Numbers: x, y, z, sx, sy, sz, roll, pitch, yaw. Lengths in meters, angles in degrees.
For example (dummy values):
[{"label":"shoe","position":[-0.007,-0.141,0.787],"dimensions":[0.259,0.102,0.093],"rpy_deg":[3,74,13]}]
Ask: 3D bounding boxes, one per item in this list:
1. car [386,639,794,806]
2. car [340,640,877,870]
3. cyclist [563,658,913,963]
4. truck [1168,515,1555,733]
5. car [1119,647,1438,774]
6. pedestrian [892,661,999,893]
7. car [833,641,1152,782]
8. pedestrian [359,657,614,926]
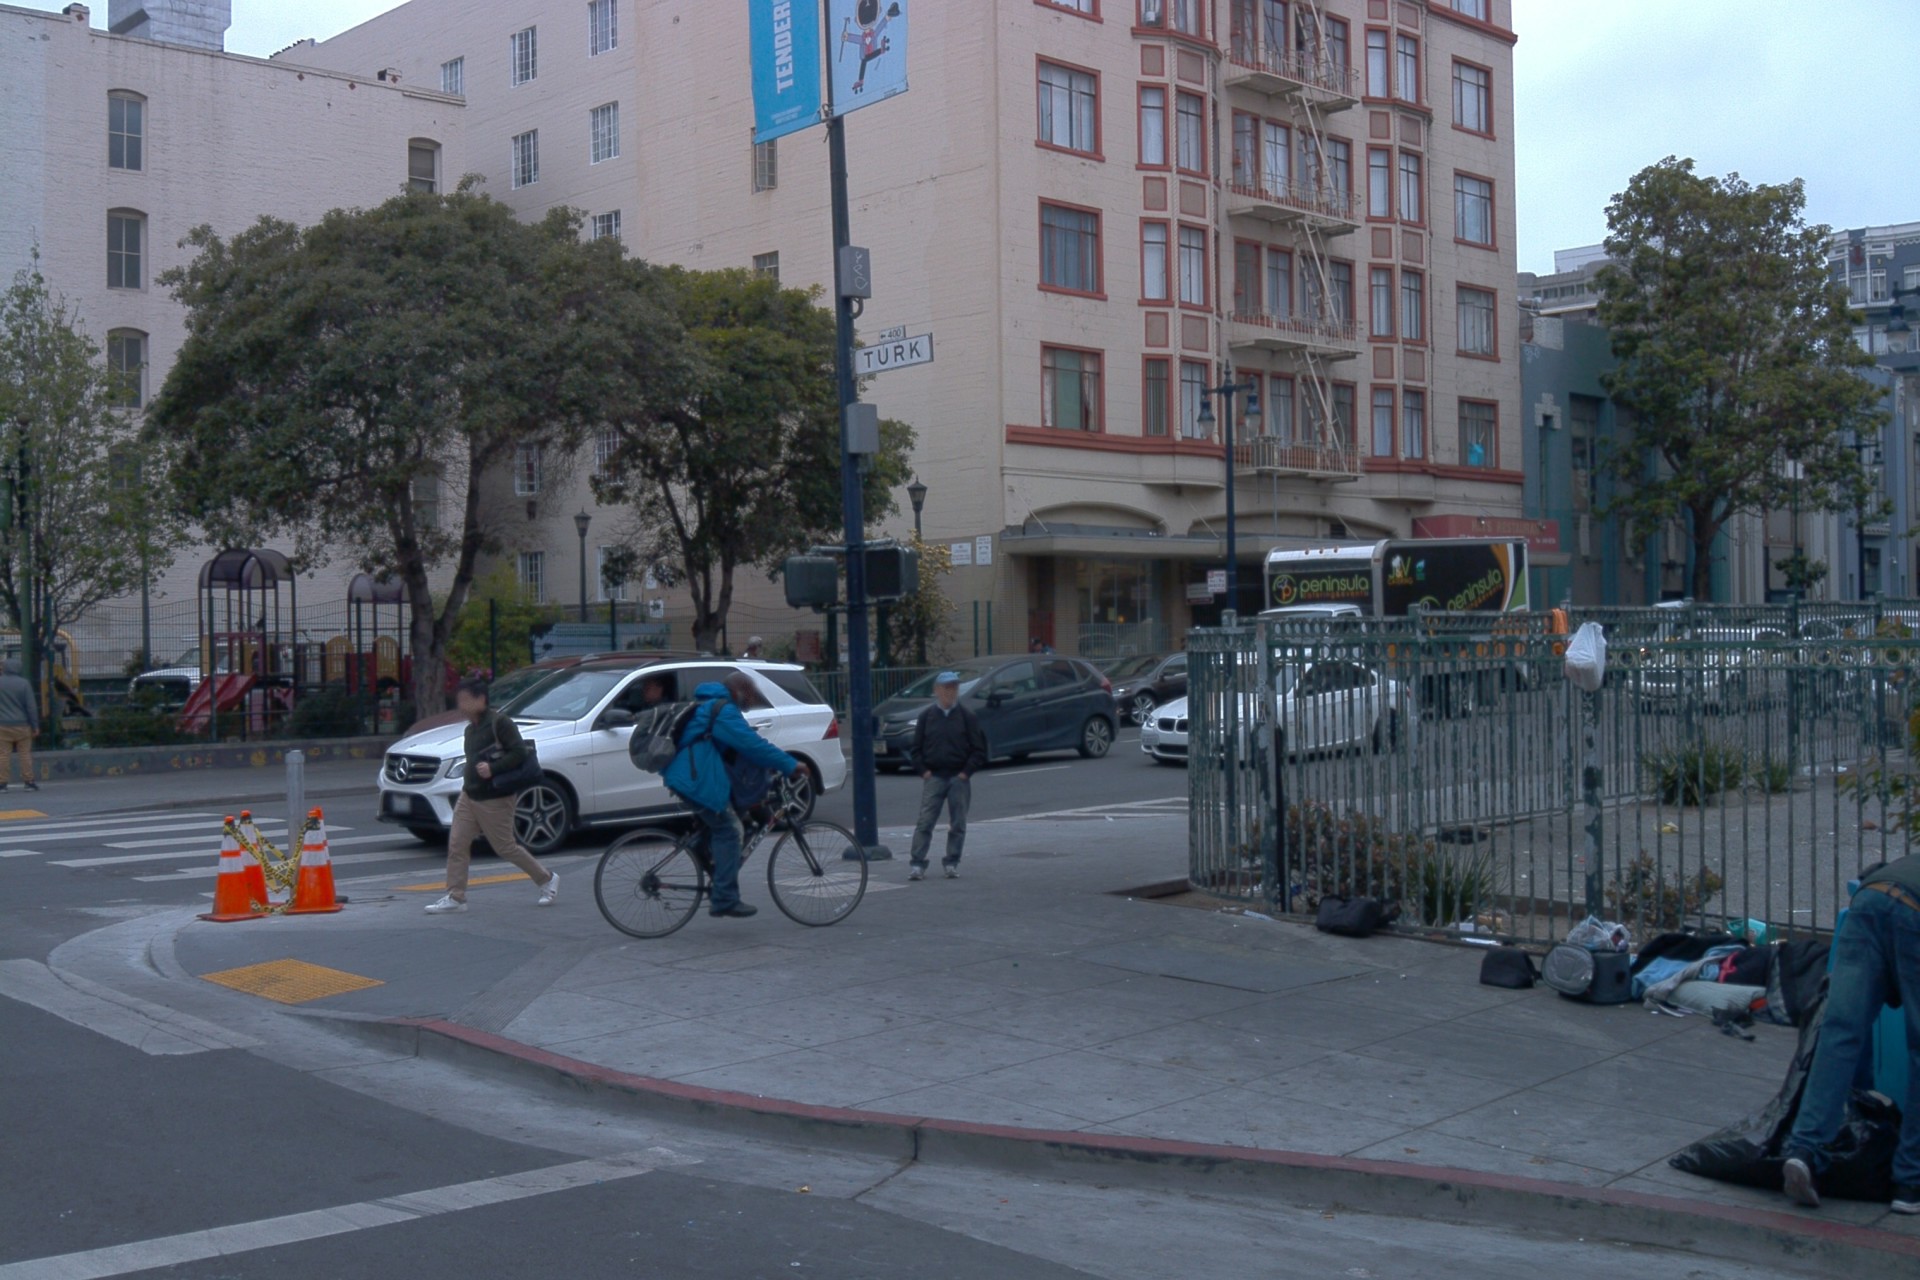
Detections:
[{"label":"car","position":[-4.842,0.998,27.572],"dimensions":[5.045,1.980,2.095],"rpy_deg":[-1,1,-44]},{"label":"car","position":[-3.335,0.994,20.265],"dimensions":[4.775,1.930,2.184],"rpy_deg":[-1,1,-44]},{"label":"cyclist","position":[-1.395,1.005,12.925],"dimensions":[1.952,1.750,1.012],"rpy_deg":[0,1,-23]},{"label":"truck","position":[7.100,-0.284,35.930],"dimensions":[7.101,3.420,2.936],"rpy_deg":[-1,1,-42]},{"label":"car","position":[4.378,0.884,27.930],"dimensions":[1.930,1.520,4.584],"rpy_deg":[1,1,45]},{"label":"pedestrian","position":[-0.112,0.997,15.373],"dimensions":[0.776,1.670,0.798],"rpy_deg":[0,1,0]},{"label":"car","position":[0.509,0.902,28.204],"dimensions":[4.317,1.730,1.853],"rpy_deg":[-1,1,-45]},{"label":"pedestrian","position":[-3.270,0.996,14.303],"dimensions":[1.115,1.720,1.309],"rpy_deg":[1,1,41]}]
